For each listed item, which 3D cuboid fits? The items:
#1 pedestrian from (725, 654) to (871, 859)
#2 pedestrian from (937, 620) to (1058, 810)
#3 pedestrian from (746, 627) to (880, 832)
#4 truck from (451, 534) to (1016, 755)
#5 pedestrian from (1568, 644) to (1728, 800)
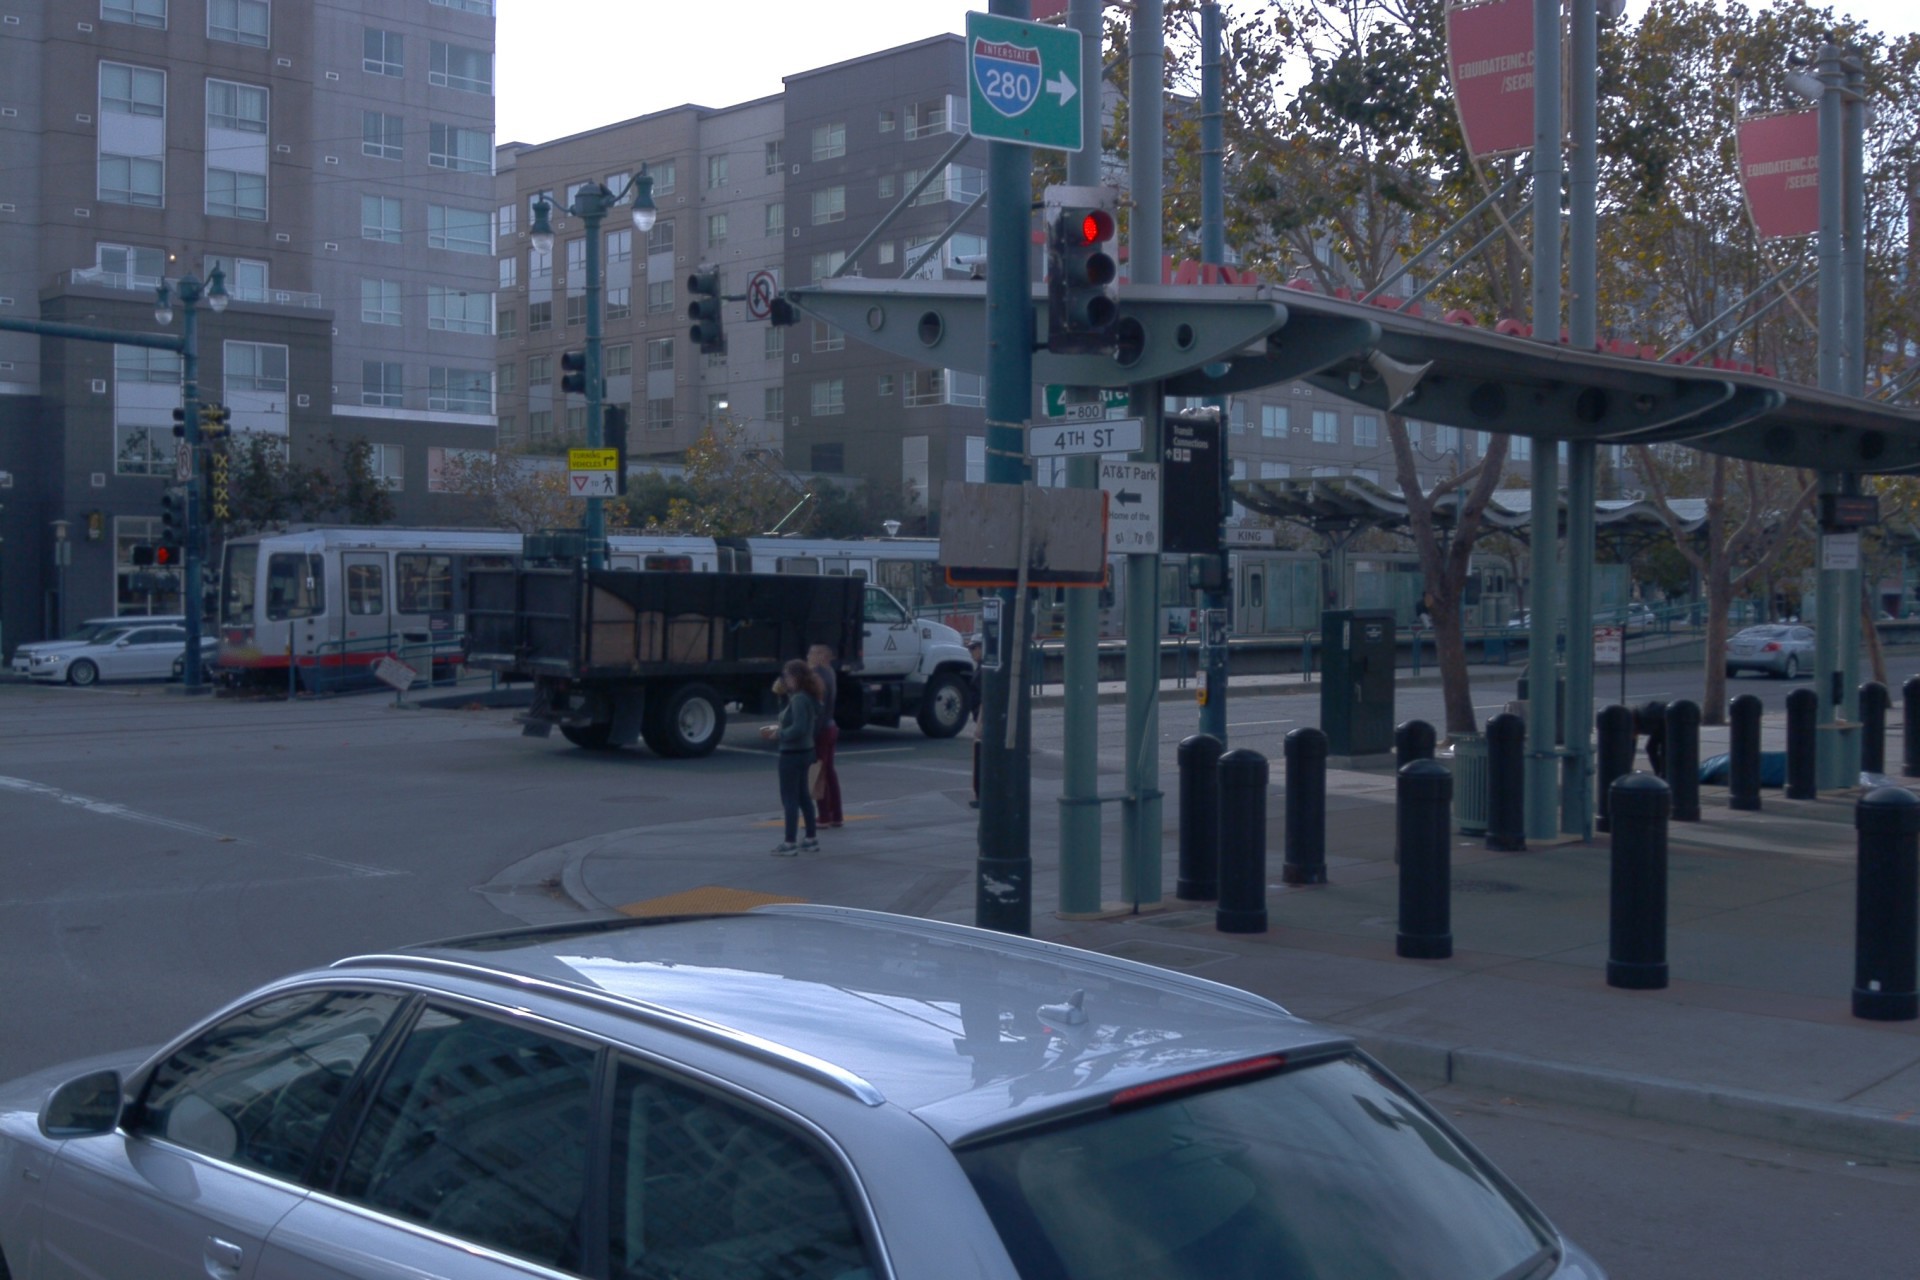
[{"bbox_3d":[-1.358,0.945,17.303,1.016,1.642,0.678,1,0,41],"label":"pedestrian"},{"bbox_3d":[0.383,0.734,20.824,0.867,1.858,0.865,1,0,31],"label":"pedestrian"},{"bbox_3d":[-1.339,0.803,19.039,0.980,1.819,0.928,1,0,12],"label":"pedestrian"},{"bbox_3d":[-3.042,0.093,30.122,3.065,2.794,8.065,1,0,44],"label":"truck"},{"bbox_3d":[7.305,0.852,22.056,1.218,1.605,1.169,1,0,-6],"label":"pedestrian"}]
